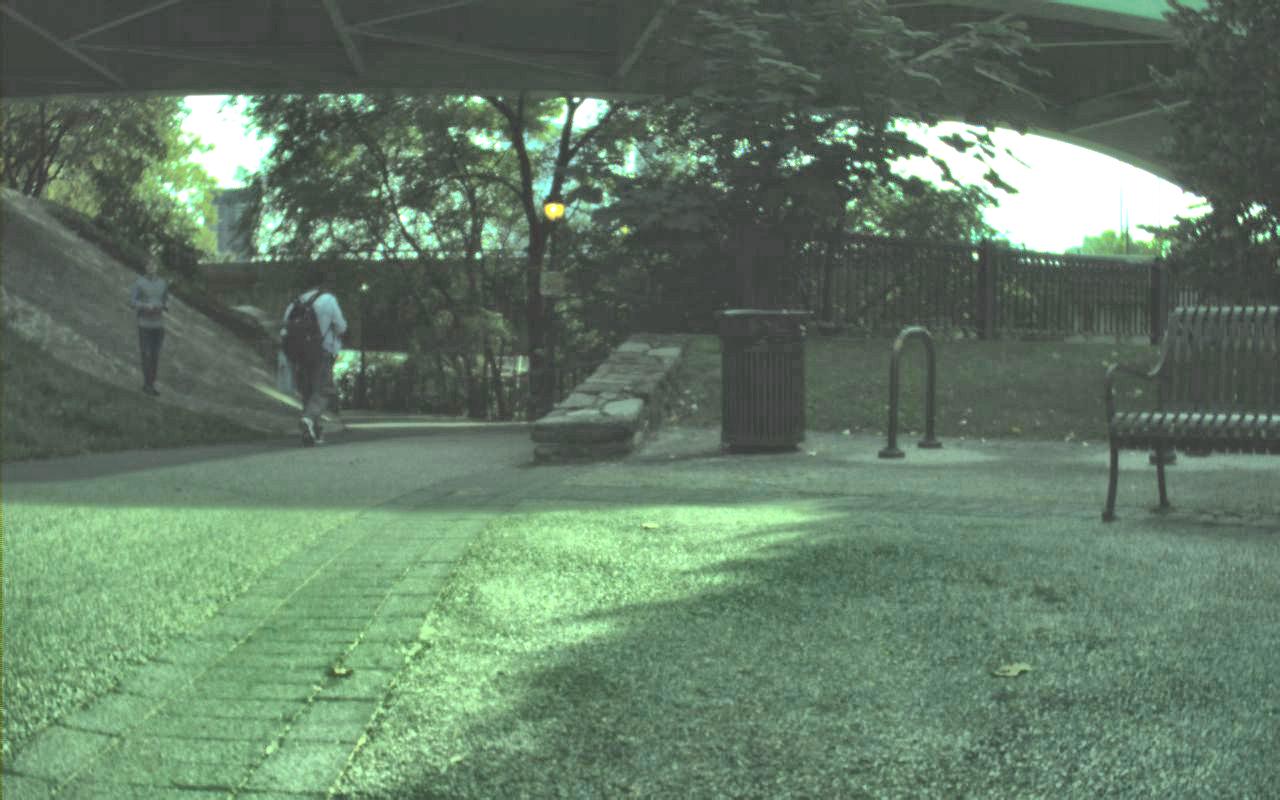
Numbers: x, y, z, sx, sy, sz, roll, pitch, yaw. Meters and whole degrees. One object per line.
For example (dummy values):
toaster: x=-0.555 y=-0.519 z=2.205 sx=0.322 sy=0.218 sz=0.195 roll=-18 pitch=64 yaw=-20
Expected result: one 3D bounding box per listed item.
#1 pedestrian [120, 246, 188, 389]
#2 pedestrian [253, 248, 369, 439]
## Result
pedestrian: x=-6.491 y=-1.048 z=15.671 sx=0.789 sy=1.853 sz=0.763 roll=0 pitch=0 yaw=-34
pedestrian: x=-3.055 y=-0.507 z=11.403 sx=0.837 sy=1.696 sz=0.890 roll=0 pitch=0 yaw=5
